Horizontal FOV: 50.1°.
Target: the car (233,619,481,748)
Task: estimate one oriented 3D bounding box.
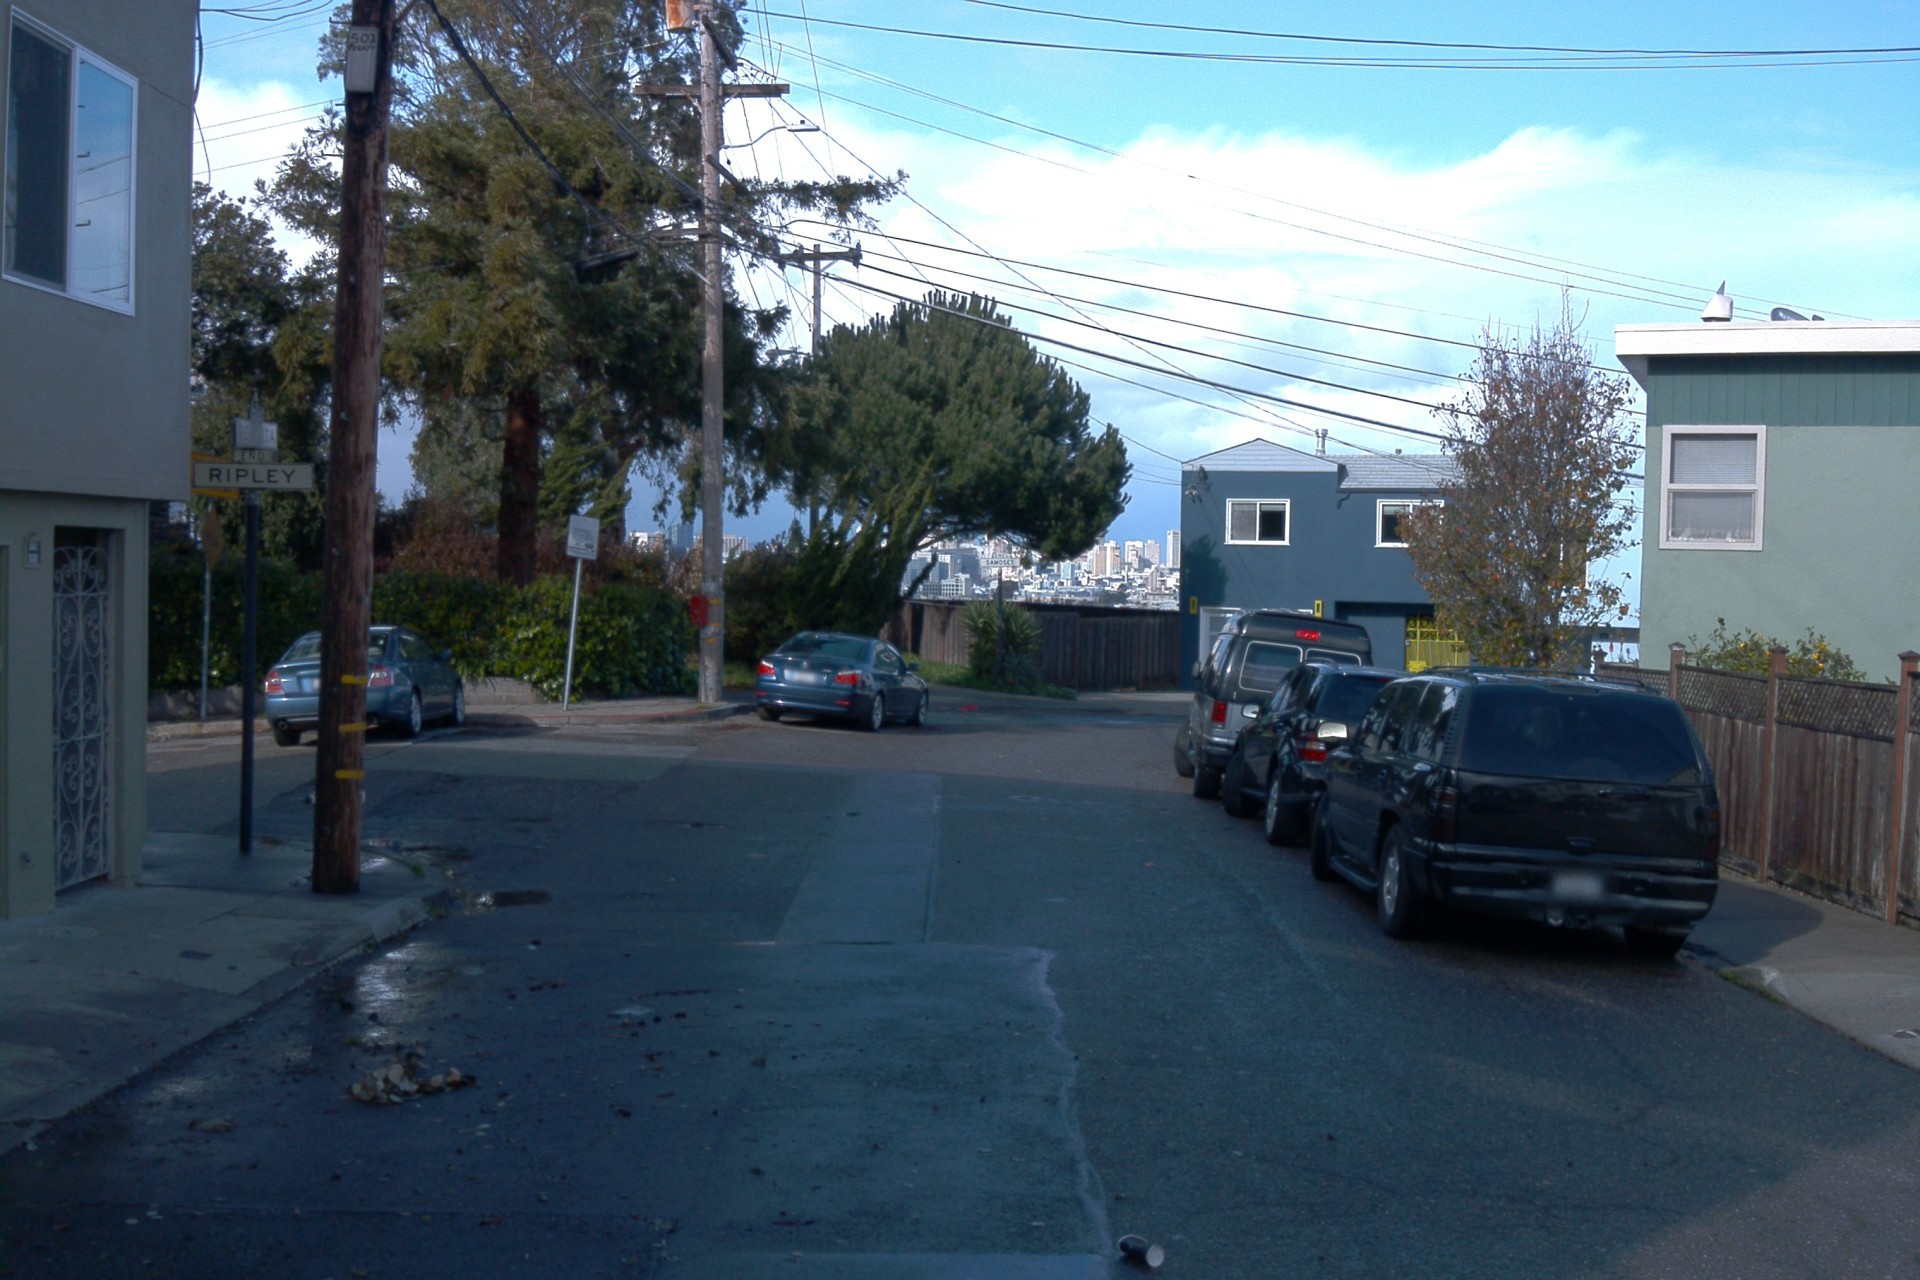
[{"bbox_3d":[-7.599,0.491,26.381,1.906,1.450,4.515,1,1,-1],"label":"car"}]

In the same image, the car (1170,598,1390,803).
[{"bbox_3d":[3.903,0.639,26.061,2.287,2.280,5.498,1,1,4],"label":"car"}]

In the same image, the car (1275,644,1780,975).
[{"bbox_3d":[3.846,1.038,15.082,2.280,1.880,5.115,1,1,0],"label":"car"}]

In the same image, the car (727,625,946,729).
[{"bbox_3d":[-1.830,0.518,32.206,2.158,1.430,4.595,1,1,14],"label":"car"}]

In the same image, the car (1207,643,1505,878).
[{"bbox_3d":[3.799,1.071,20.600,2.071,1.960,4.716,1,1,0],"label":"car"}]
